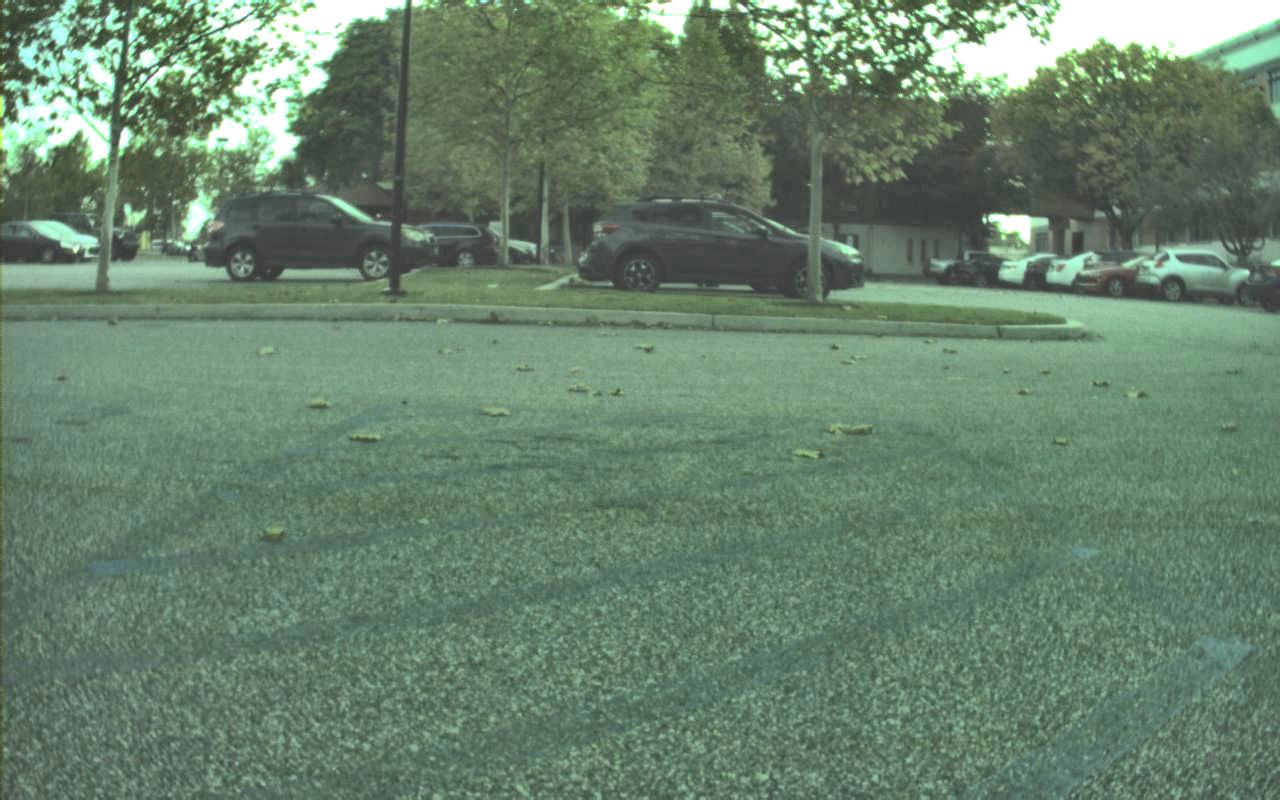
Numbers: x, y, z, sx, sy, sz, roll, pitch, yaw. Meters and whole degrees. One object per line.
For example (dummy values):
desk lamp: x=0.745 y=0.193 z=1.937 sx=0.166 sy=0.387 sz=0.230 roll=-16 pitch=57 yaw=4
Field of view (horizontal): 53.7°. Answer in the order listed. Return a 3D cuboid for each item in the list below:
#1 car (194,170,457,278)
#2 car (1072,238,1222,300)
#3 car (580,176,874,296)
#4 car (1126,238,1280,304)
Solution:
car: x=-5.975 y=-3.275 z=23.269 sx=4.734 sy=1.779 sz=2.027 roll=0 pitch=1 yaw=1
car: x=15.557 y=-3.930 z=36.110 sx=4.483 sy=1.634 sz=1.952 roll=1 pitch=1 yaw=3
car: x=1.327 y=-2.596 z=20.277 sx=4.559 sy=1.685 sz=1.961 roll=0 pitch=1 yaw=-3
car: x=16.343 y=-3.624 z=33.437 sx=4.466 sy=1.637 sz=1.951 roll=1 pitch=1 yaw=4
